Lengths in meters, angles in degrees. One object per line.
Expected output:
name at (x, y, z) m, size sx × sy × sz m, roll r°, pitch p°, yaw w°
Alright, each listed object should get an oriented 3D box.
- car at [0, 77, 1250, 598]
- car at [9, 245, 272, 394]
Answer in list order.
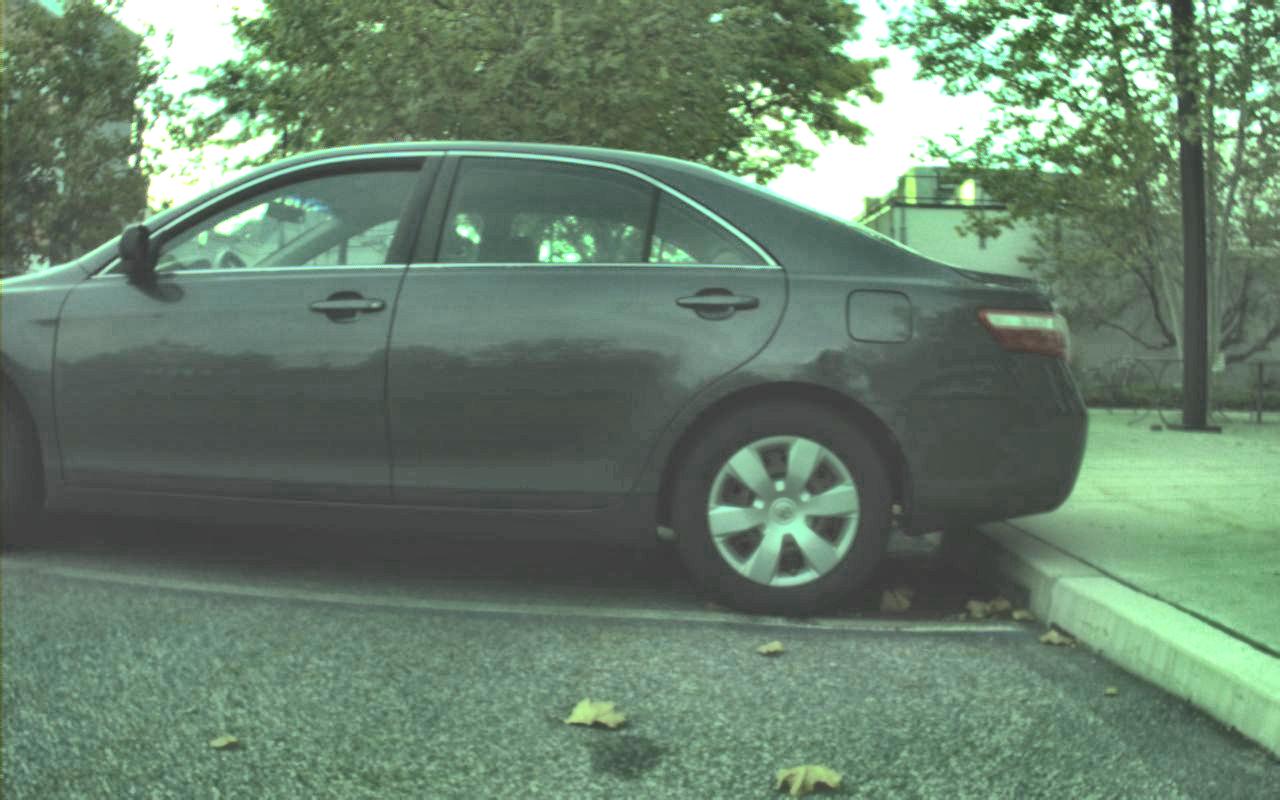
car at (-0.381, -0.231, 4.500) m, size 4.603 × 1.620 × 1.983 m, roll 0°, pitch 1°, yaw 1°
car at (-6.491, -0.957, 15.586) m, size 2.032 × 1.681 × 4.551 m, roll 0°, pitch 1°, yaw 1°
